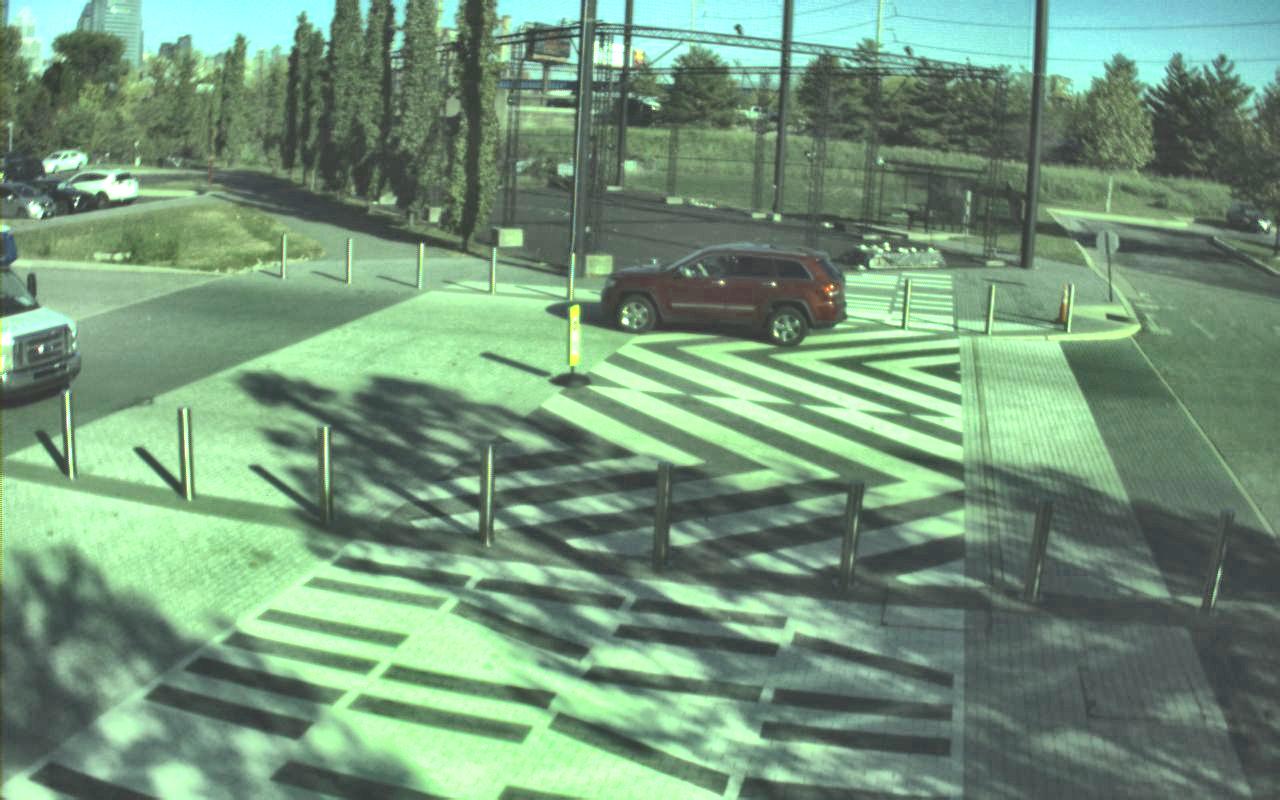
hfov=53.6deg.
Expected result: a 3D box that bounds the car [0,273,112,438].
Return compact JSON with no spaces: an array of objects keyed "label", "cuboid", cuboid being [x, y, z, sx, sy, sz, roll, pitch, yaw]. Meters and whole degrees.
[{"label":"car","cuboid":[-10.500,-0.767,17.123,4.689,1.808,1.980,5,17,20]}]

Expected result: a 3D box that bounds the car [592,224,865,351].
[{"label":"car","cuboid":[1.776,-2.237,24.342,4.956,1.887,2.101,3,17,14]}]
